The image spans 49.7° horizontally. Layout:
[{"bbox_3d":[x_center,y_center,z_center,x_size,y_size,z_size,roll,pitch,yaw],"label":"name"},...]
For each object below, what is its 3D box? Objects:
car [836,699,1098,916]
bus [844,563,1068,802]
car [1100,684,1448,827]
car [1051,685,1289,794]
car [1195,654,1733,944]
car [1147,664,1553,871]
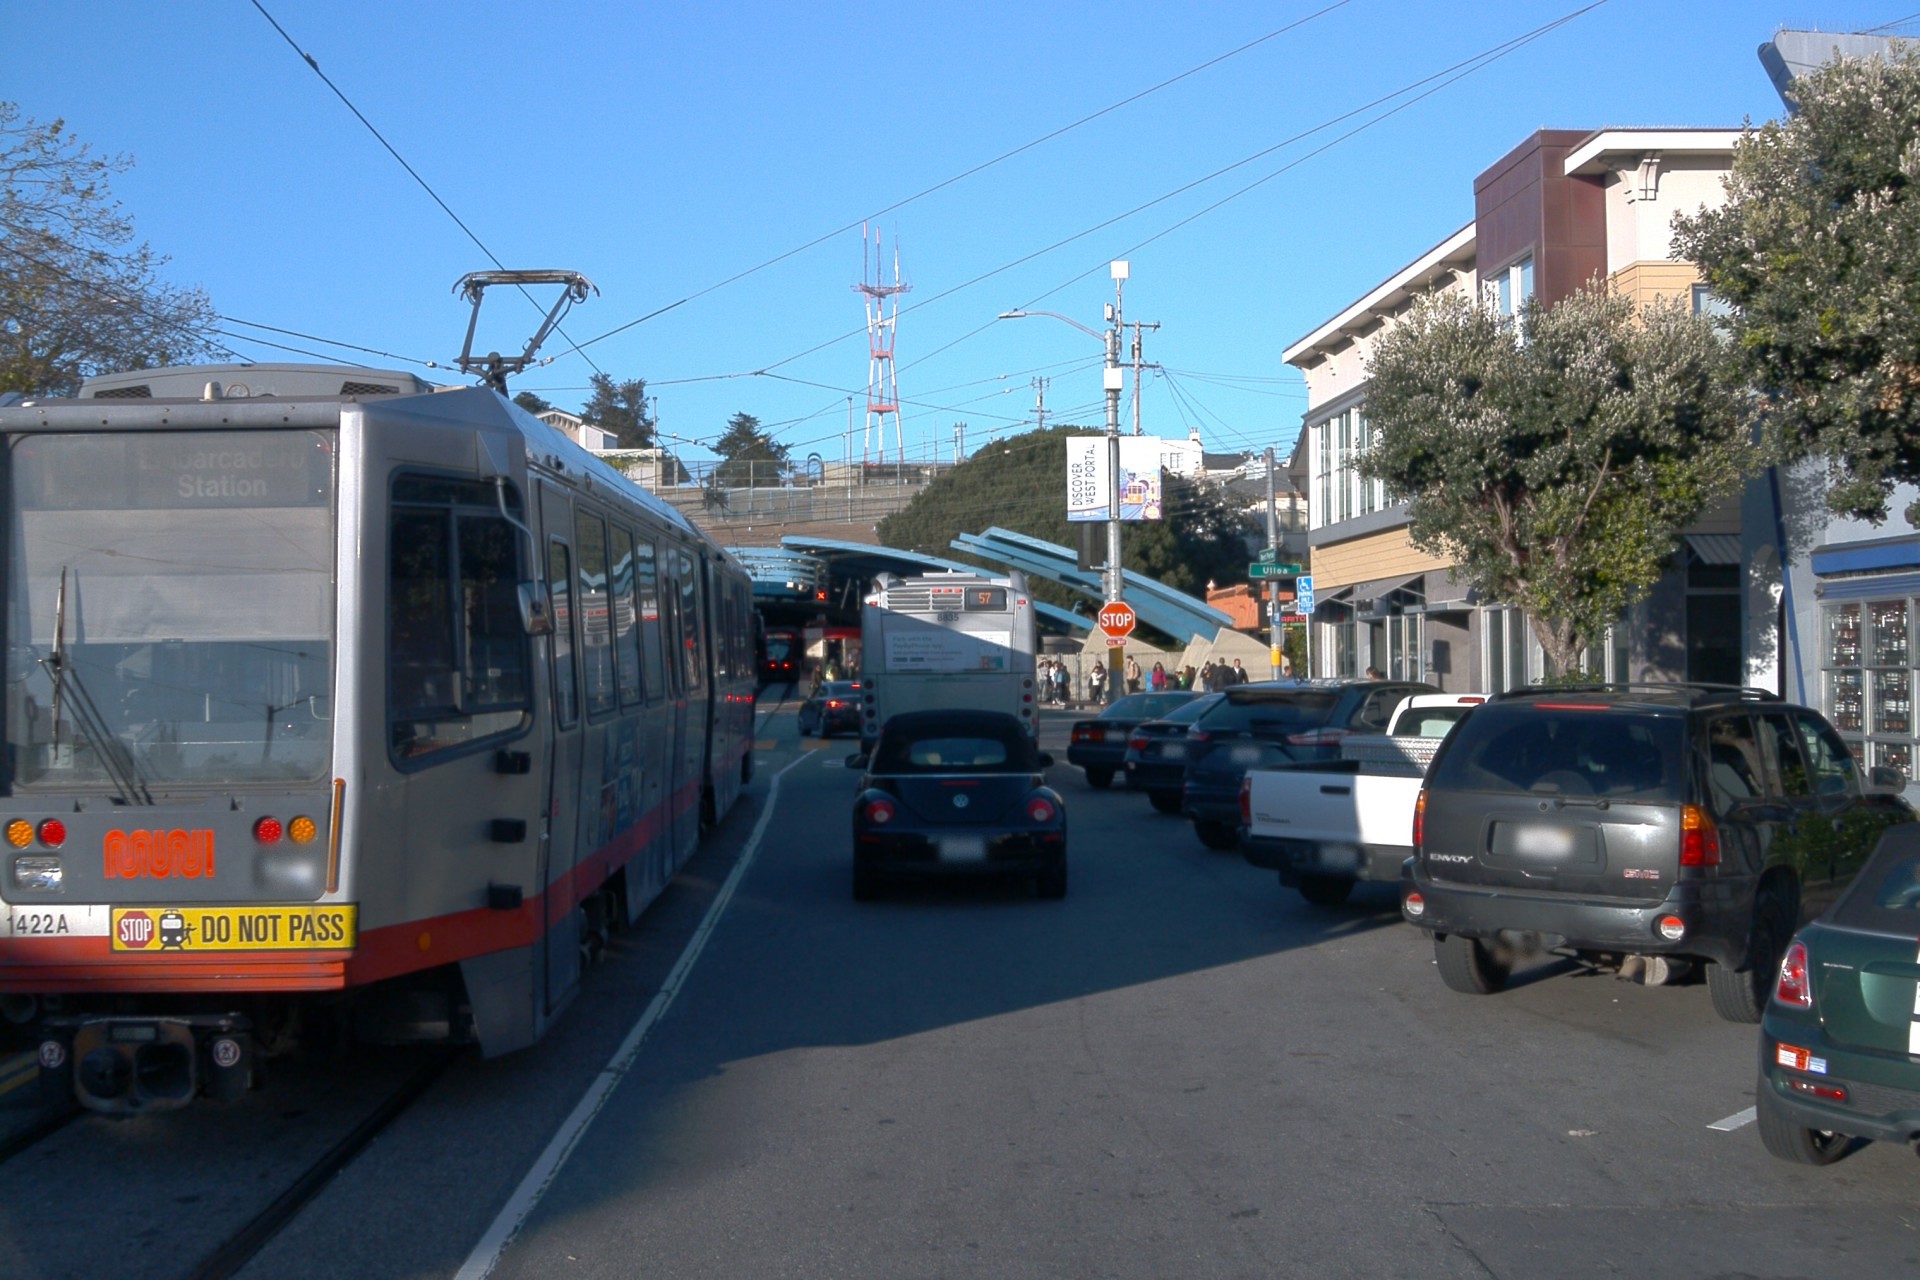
[{"bbox_3d":[-0.027,1.343,17.946,2.013,1.580,4.001,0,0,-2],"label":"car"},{"bbox_3d":[0.273,0.633,35.982,2.994,3.400,12.785,0,0,4],"label":"bus"},{"bbox_3d":[3.937,1.330,25.350,2.056,1.500,4.693,0,0,40],"label":"car"},{"bbox_3d":[3.140,1.405,30.359,1.871,1.420,3.909,0,0,34],"label":"car"},{"bbox_3d":[4.146,1.092,16.501,2.182,1.960,4.676,0,0,42],"label":"car"},{"bbox_3d":[4.035,1.167,20.938,2.117,1.830,4.377,0,0,41],"label":"car"}]
